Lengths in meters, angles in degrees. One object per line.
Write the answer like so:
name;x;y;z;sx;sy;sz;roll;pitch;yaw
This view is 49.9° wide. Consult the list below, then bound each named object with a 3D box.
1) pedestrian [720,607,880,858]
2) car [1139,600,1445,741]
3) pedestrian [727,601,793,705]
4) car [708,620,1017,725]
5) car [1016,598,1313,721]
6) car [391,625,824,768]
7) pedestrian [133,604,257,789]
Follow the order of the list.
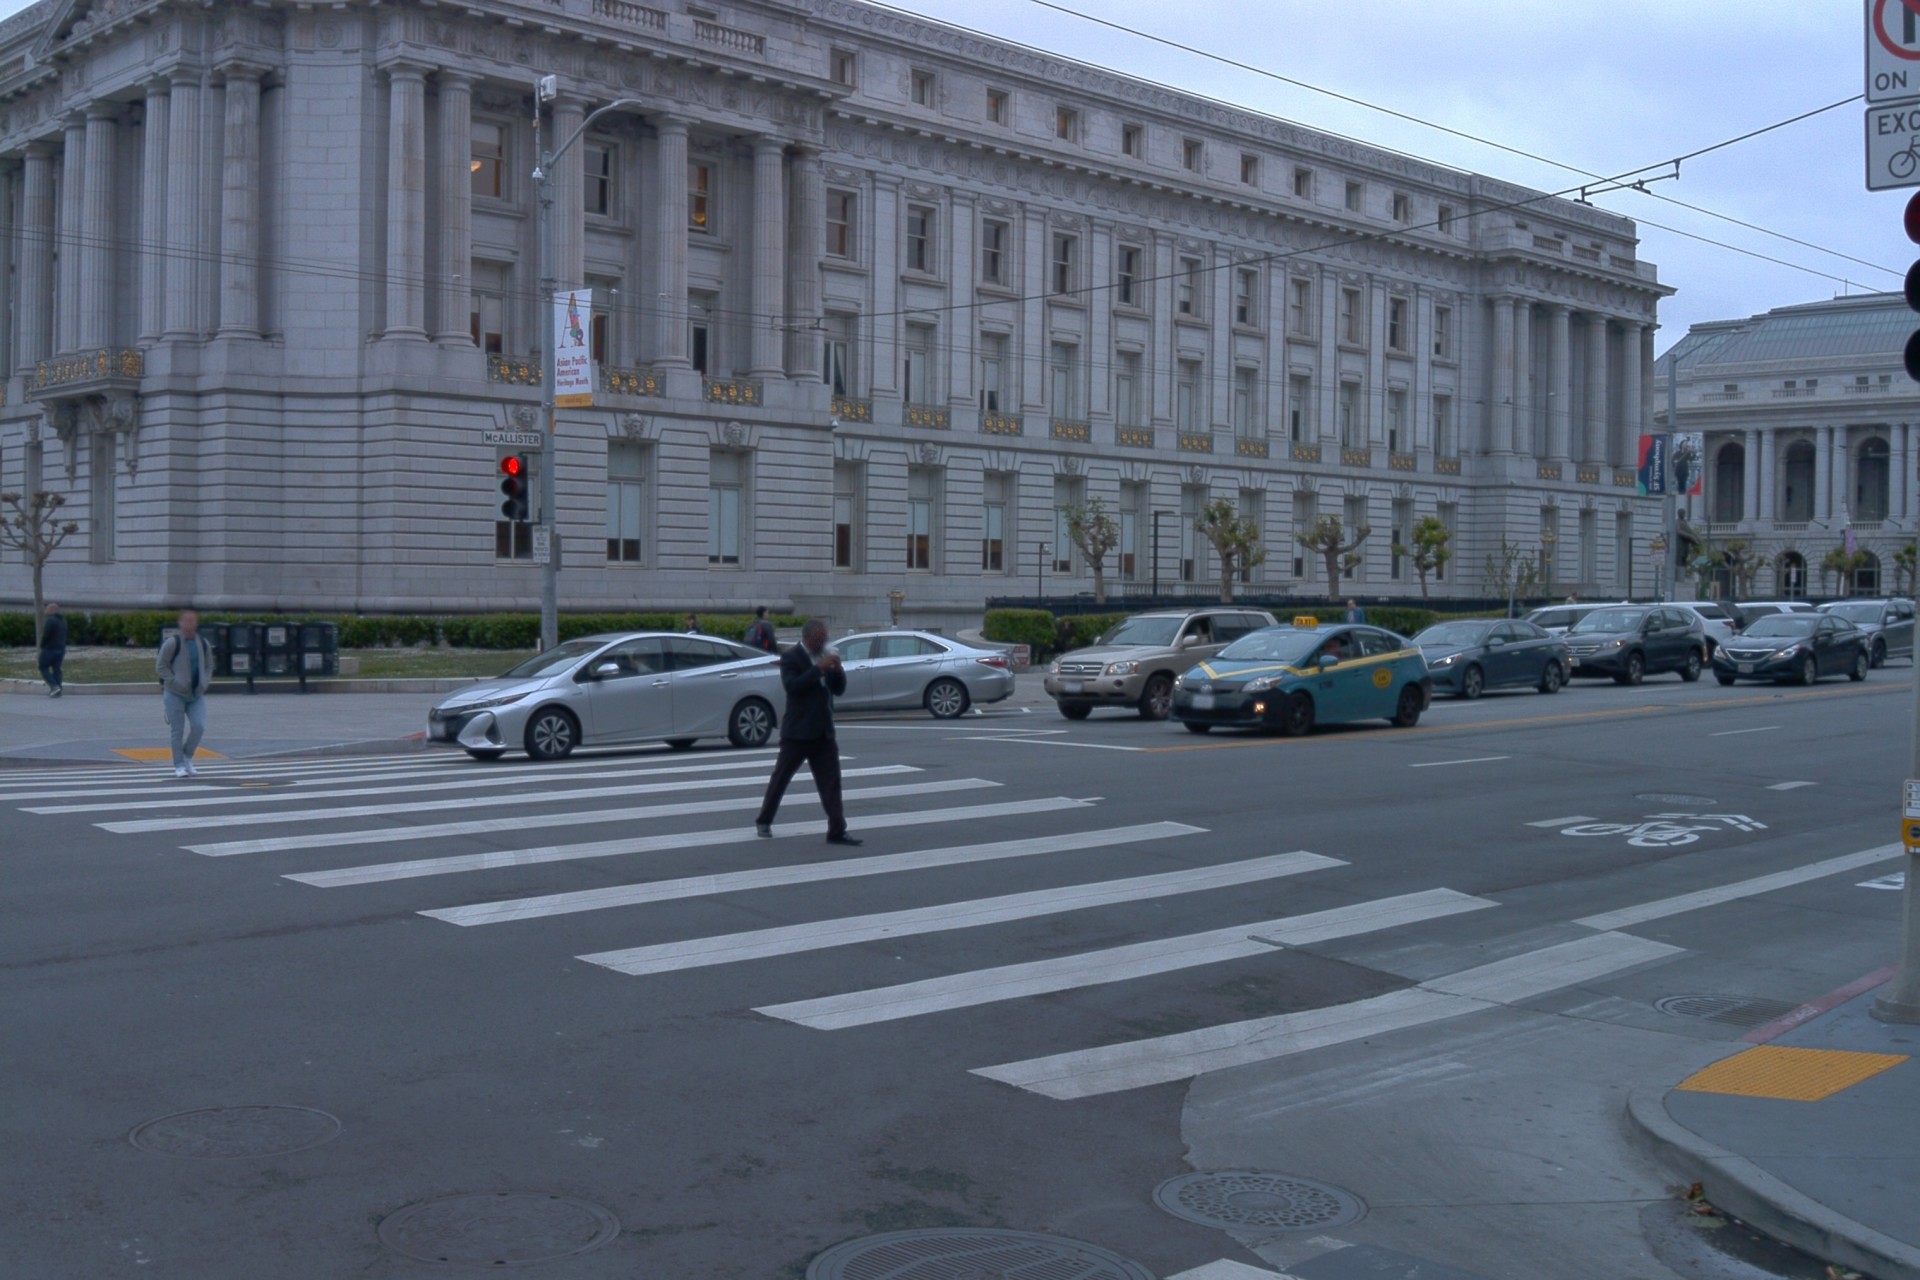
pedestrian;-1.232;0.678;15.853;0.806;1.850;0.958;-1;1;-41
car;4.624;0.361;28.404;2.040;1.787;4.328;1;1;44
pedestrian;-3.601;0.222;37.192;0.806;1.850;0.871;1;1;40
car;-1.535;0.504;34.001;4.904;1.667;2.106;0;1;4
car;3.289;0.261;32.536;2.180;1.800;4.766;1;1;44
car;-4.142;0.598;24.707;4.666;1.540;2.143;-1;1;-41
pedestrian;-7.918;0.559;21.369;0.805;1.850;1.160;-1;1;-43
